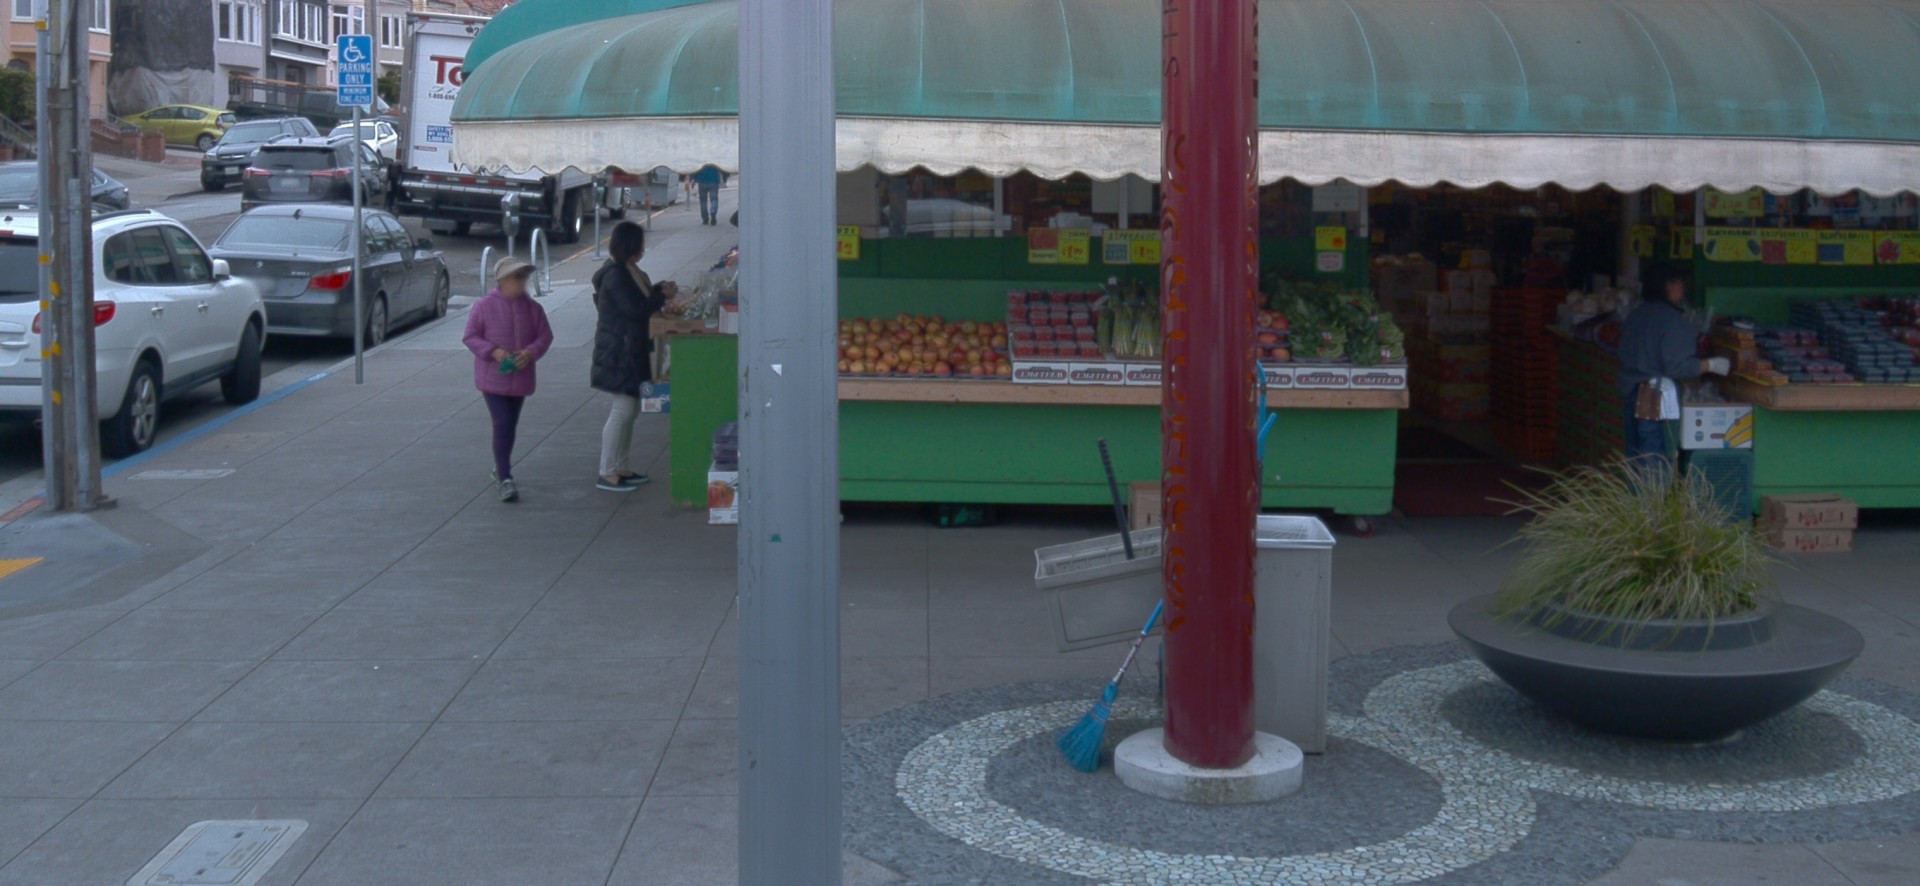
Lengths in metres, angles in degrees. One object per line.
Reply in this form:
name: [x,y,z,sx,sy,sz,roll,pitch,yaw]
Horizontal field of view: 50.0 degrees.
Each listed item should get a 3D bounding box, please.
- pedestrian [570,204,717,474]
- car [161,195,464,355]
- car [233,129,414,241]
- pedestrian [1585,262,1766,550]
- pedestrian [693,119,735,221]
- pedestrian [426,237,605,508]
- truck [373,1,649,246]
pedestrian: [-1.976,-0.673,12.790,0.796,1.607,0.823,-1,2,-17]
car: [-6.725,-1.843,21.909,1.969,1.513,4.609,0,6,-3]
car: [-10.626,-4.308,34.691,1.910,1.752,4.446,0,5,-3]
pedestrian: [4.015,-0.234,11.596,0.743,1.557,0.755,0,2,0]
pedestrian: [-4.436,-4.916,37.147,0.707,1.817,0.655,0,2,-3]
pedestrian: [-2.689,-0.463,12.451,0.798,1.564,0.705,2,3,38]
truck: [-7.703,-5.466,36.843,2.914,3.770,10.115,0,5,-1]
